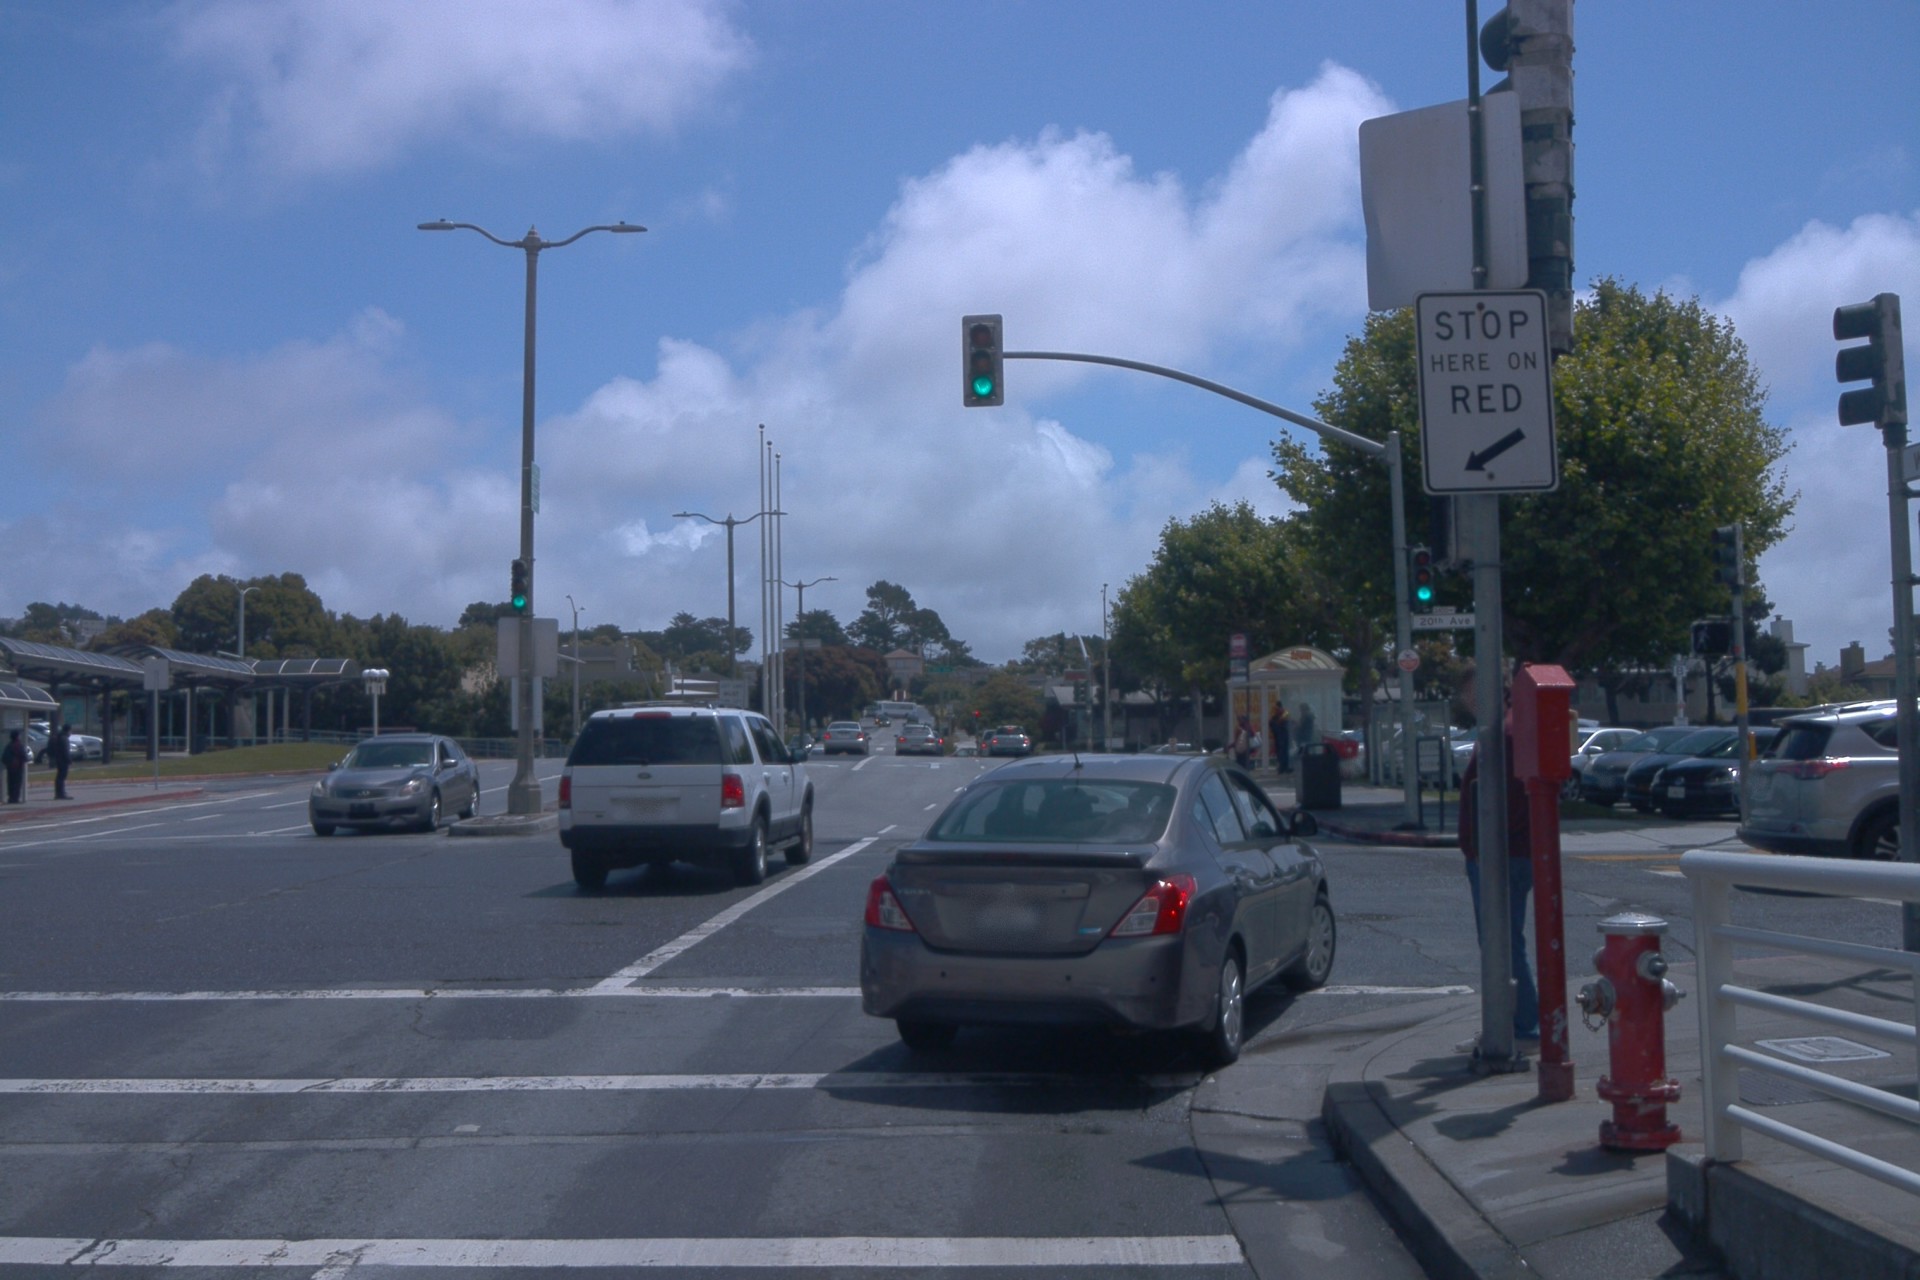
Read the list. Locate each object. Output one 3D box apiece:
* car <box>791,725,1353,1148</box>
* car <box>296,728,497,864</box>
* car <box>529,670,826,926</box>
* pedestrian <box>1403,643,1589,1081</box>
[{"bbox_3d":[0.837,1.380,11.211,1.946,1.580,4.217,0,1,20],"label":"car"},{"bbox_3d":[-8.642,2.344,31.935,1.950,1.680,4.714,0,1,-2],"label":"car"},{"bbox_3d":[-2.729,1.468,21.048,2.037,2.200,4.659,0,1,5],"label":"car"},{"bbox_3d":[2.444,0.975,9.437,0.595,1.910,0.830,0,1,-3],"label":"pedestrian"}]
